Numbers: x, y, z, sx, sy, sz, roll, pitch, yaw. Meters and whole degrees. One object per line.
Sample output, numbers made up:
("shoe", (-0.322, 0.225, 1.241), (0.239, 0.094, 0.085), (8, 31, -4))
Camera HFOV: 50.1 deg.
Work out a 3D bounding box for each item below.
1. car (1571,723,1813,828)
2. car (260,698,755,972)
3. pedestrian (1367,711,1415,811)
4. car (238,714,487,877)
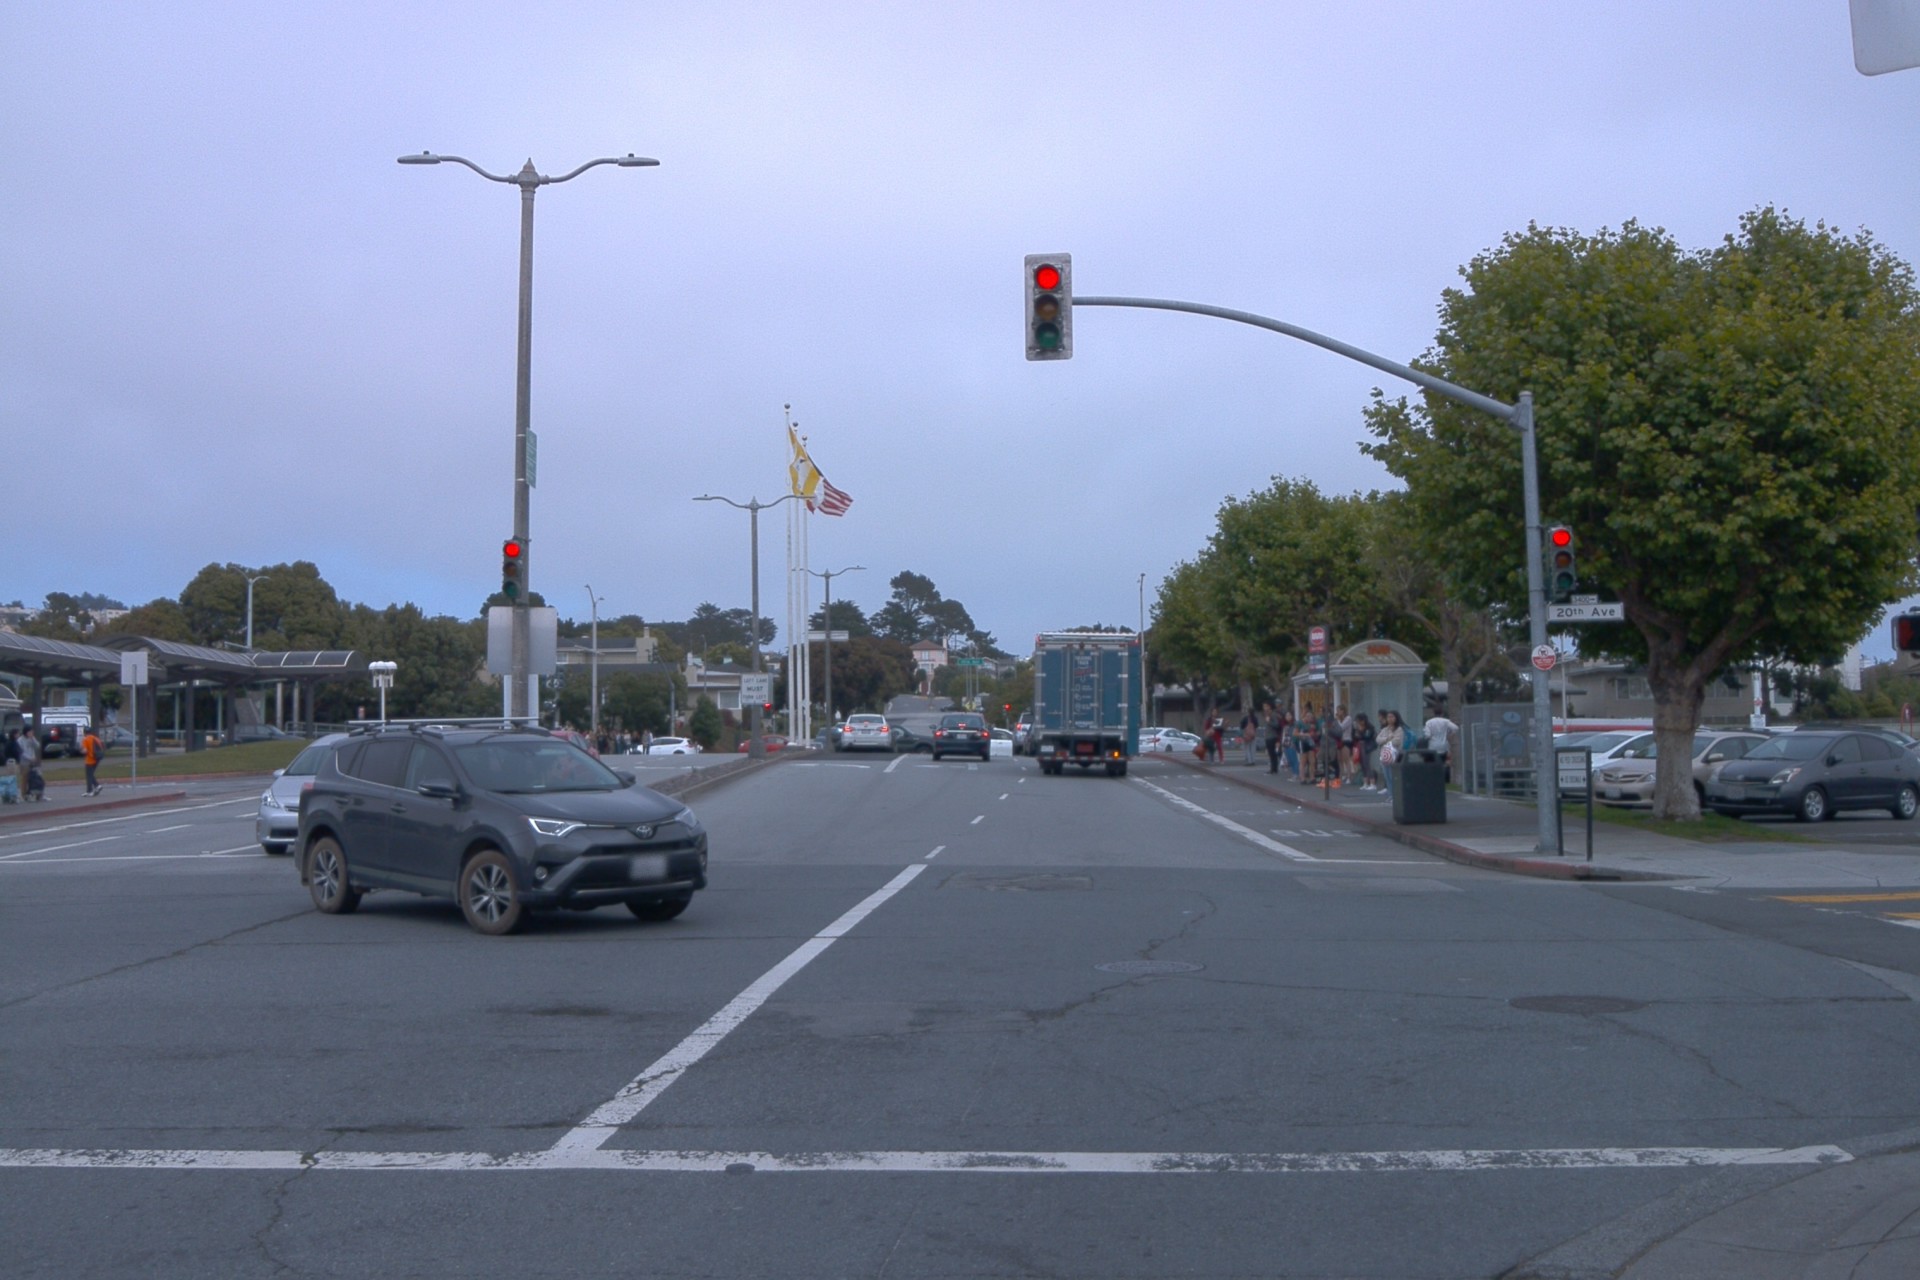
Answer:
("car", (12.840, 2.326, 36.022), (3.959, 1.540, 1.985), (-1, 1, -33))
("car", (-4.066, 1.546, 17.973), (2.094, 1.889, 4.607), (-1, 1, -44))
("pedestrian", (7.536, 2.106, 35.952), (0.606, 1.700, 0.726), (0, 1, -7))
("car", (-8.066, 2.042, 28.240), (2.109, 1.825, 4.682), (0, 1, -1))
